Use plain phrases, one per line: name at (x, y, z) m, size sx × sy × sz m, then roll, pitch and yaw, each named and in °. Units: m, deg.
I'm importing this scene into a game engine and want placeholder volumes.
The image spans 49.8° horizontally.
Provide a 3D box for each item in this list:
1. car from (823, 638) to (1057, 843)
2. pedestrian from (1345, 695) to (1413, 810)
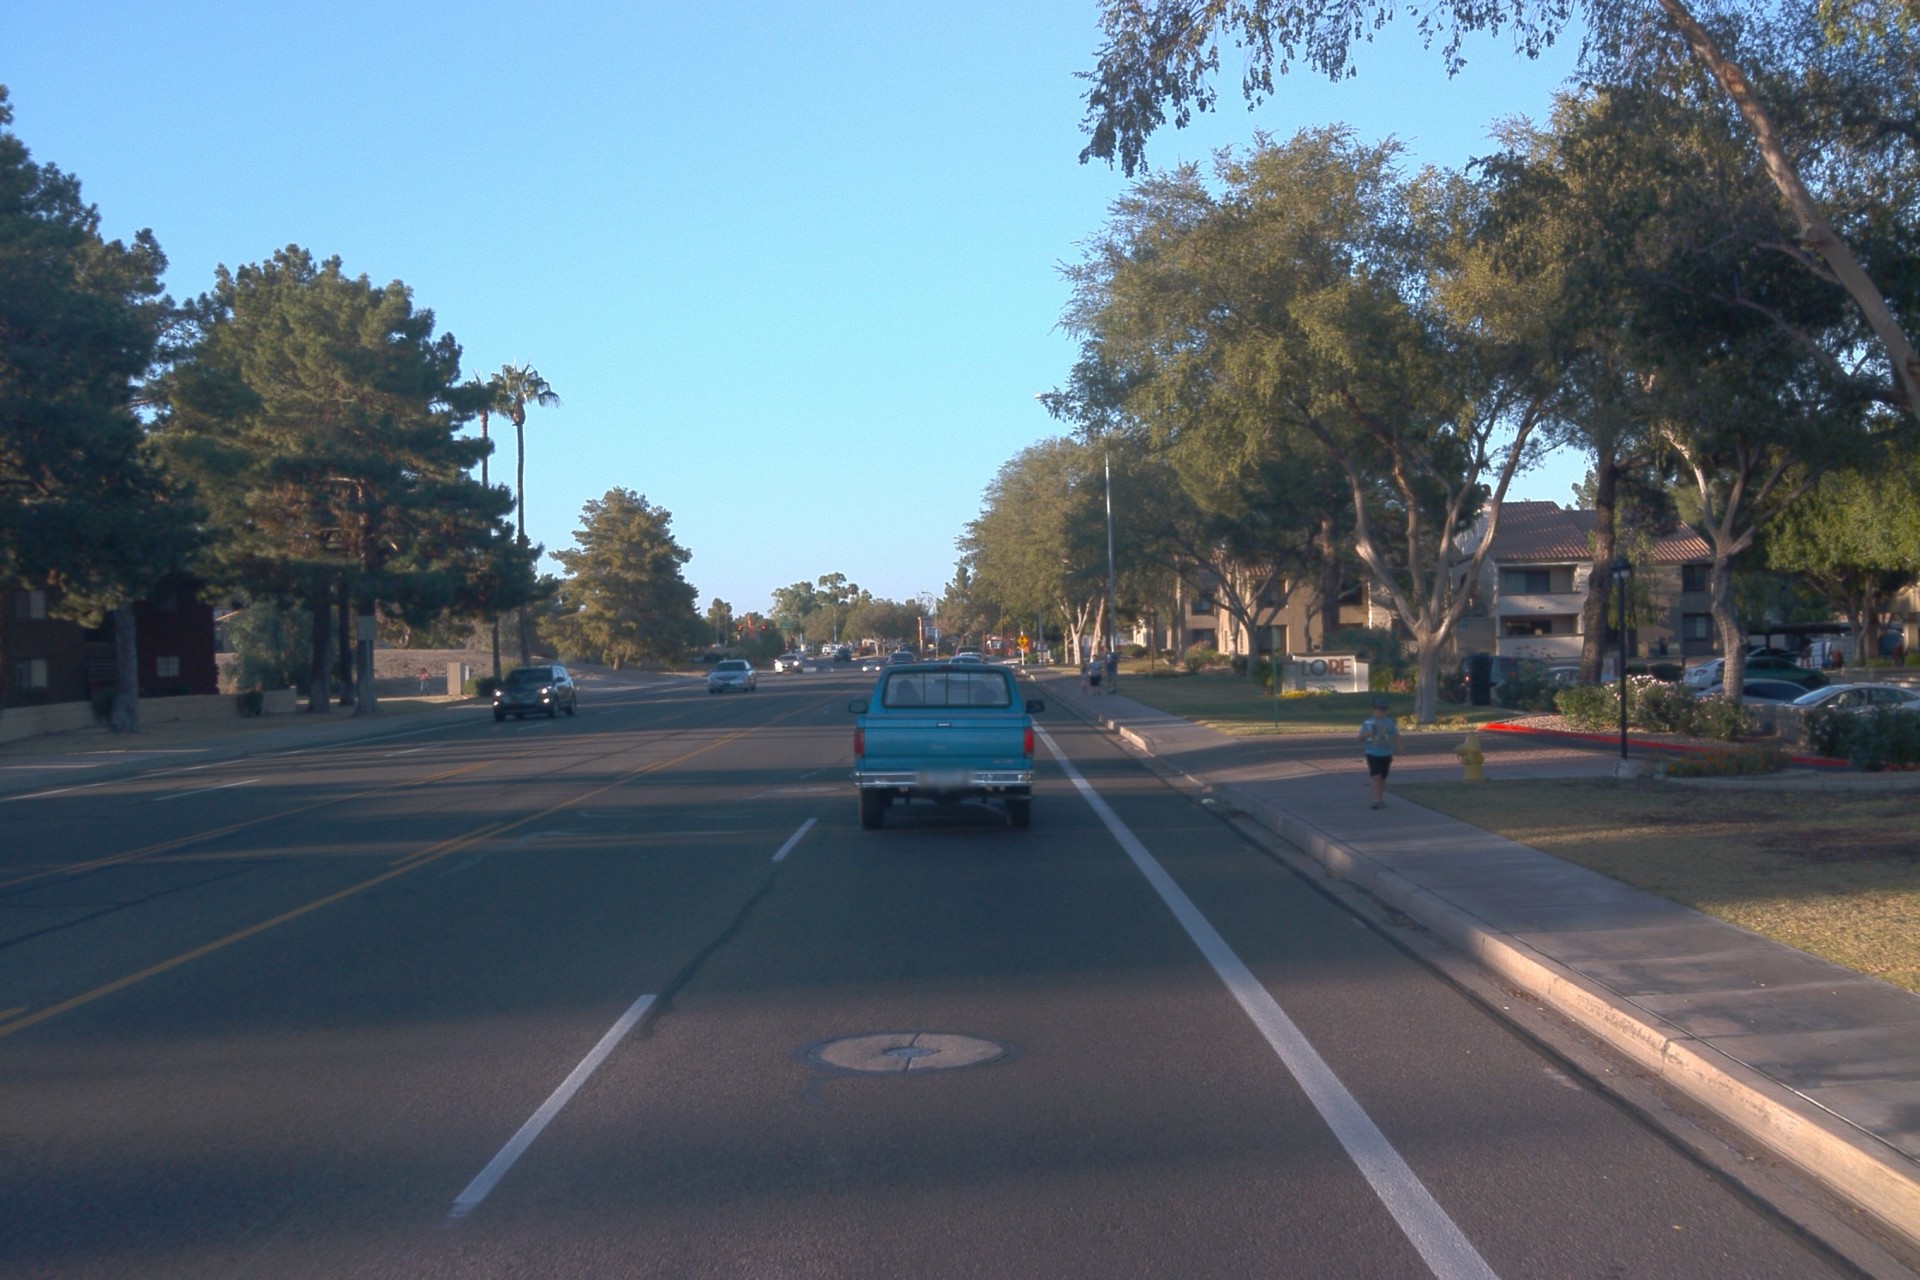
car at (-0.174, 1.066, 24.516) m, size 2.459 × 2.150 × 5.428 m, roll 0°, pitch 0°, yaw 1°
pedestrian at (4.672, 1.244, 23.092) m, size 0.616 × 1.250 × 0.743 m, roll 0°, pitch 0°, yaw 1°
